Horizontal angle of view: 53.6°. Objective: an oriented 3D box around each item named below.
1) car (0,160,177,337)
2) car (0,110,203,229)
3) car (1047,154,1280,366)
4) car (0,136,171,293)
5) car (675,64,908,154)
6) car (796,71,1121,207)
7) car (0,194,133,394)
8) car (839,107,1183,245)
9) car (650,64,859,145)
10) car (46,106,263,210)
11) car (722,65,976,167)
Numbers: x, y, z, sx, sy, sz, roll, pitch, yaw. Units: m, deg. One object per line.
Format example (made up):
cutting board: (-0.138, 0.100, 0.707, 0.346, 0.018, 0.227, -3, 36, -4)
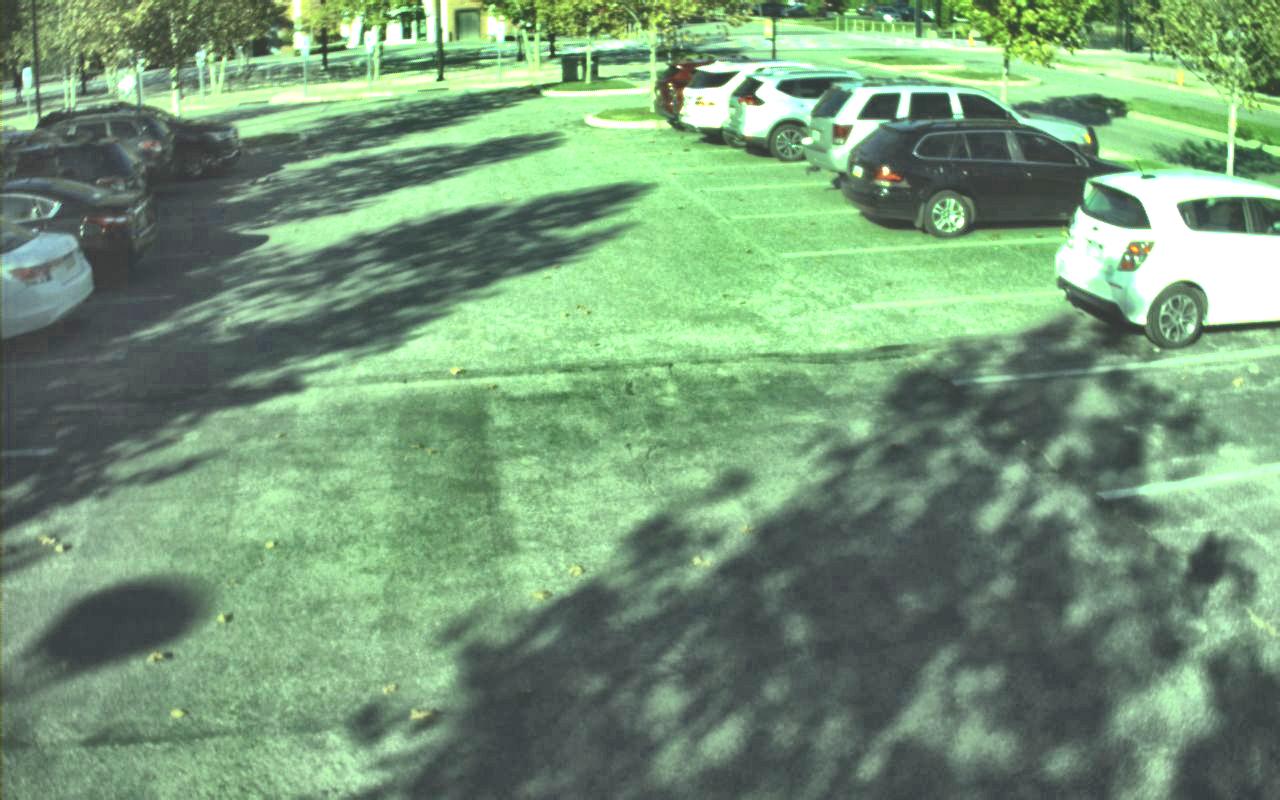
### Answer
car: (-8.126, -1.933, 14.281, 4.389, 1.568, 1.930, -5, 17, -13)
car: (-10.671, -4.381, 21.763, 4.484, 1.674, 1.995, -4, 16, -8)
car: (6.345, -1.488, 11.514, 4.217, 1.671, 1.906, -4, 16, -8)
car: (-9.200, -2.729, 16.524, 4.463, 1.647, 1.979, -5, 17, -12)
car: (3.185, -6.194, 26.080, 4.547, 1.757, 1.995, -4, 17, -11)
car: (4.958, -4.076, 18.836, 4.763, 1.872, 2.056, -3, 16, -8)
car: (-7.880, -1.123, 11.962, 4.394, 1.580, 1.943, -2, 16, -4)
car: (5.077, -3.092, 16.414, 4.463, 1.573, 1.931, -4, 16, -9)
car: (2.642, -6.918, 28.806, 4.493, 1.748, 2.003, -4, 16, -10)
car: (-10.291, -5.101, 24.664, 4.487, 1.636, 1.974, -3, 16, -8)
car: (4.001, -5.503, 23.665, 4.555, 1.804, 1.992, -3, 16, -7)
